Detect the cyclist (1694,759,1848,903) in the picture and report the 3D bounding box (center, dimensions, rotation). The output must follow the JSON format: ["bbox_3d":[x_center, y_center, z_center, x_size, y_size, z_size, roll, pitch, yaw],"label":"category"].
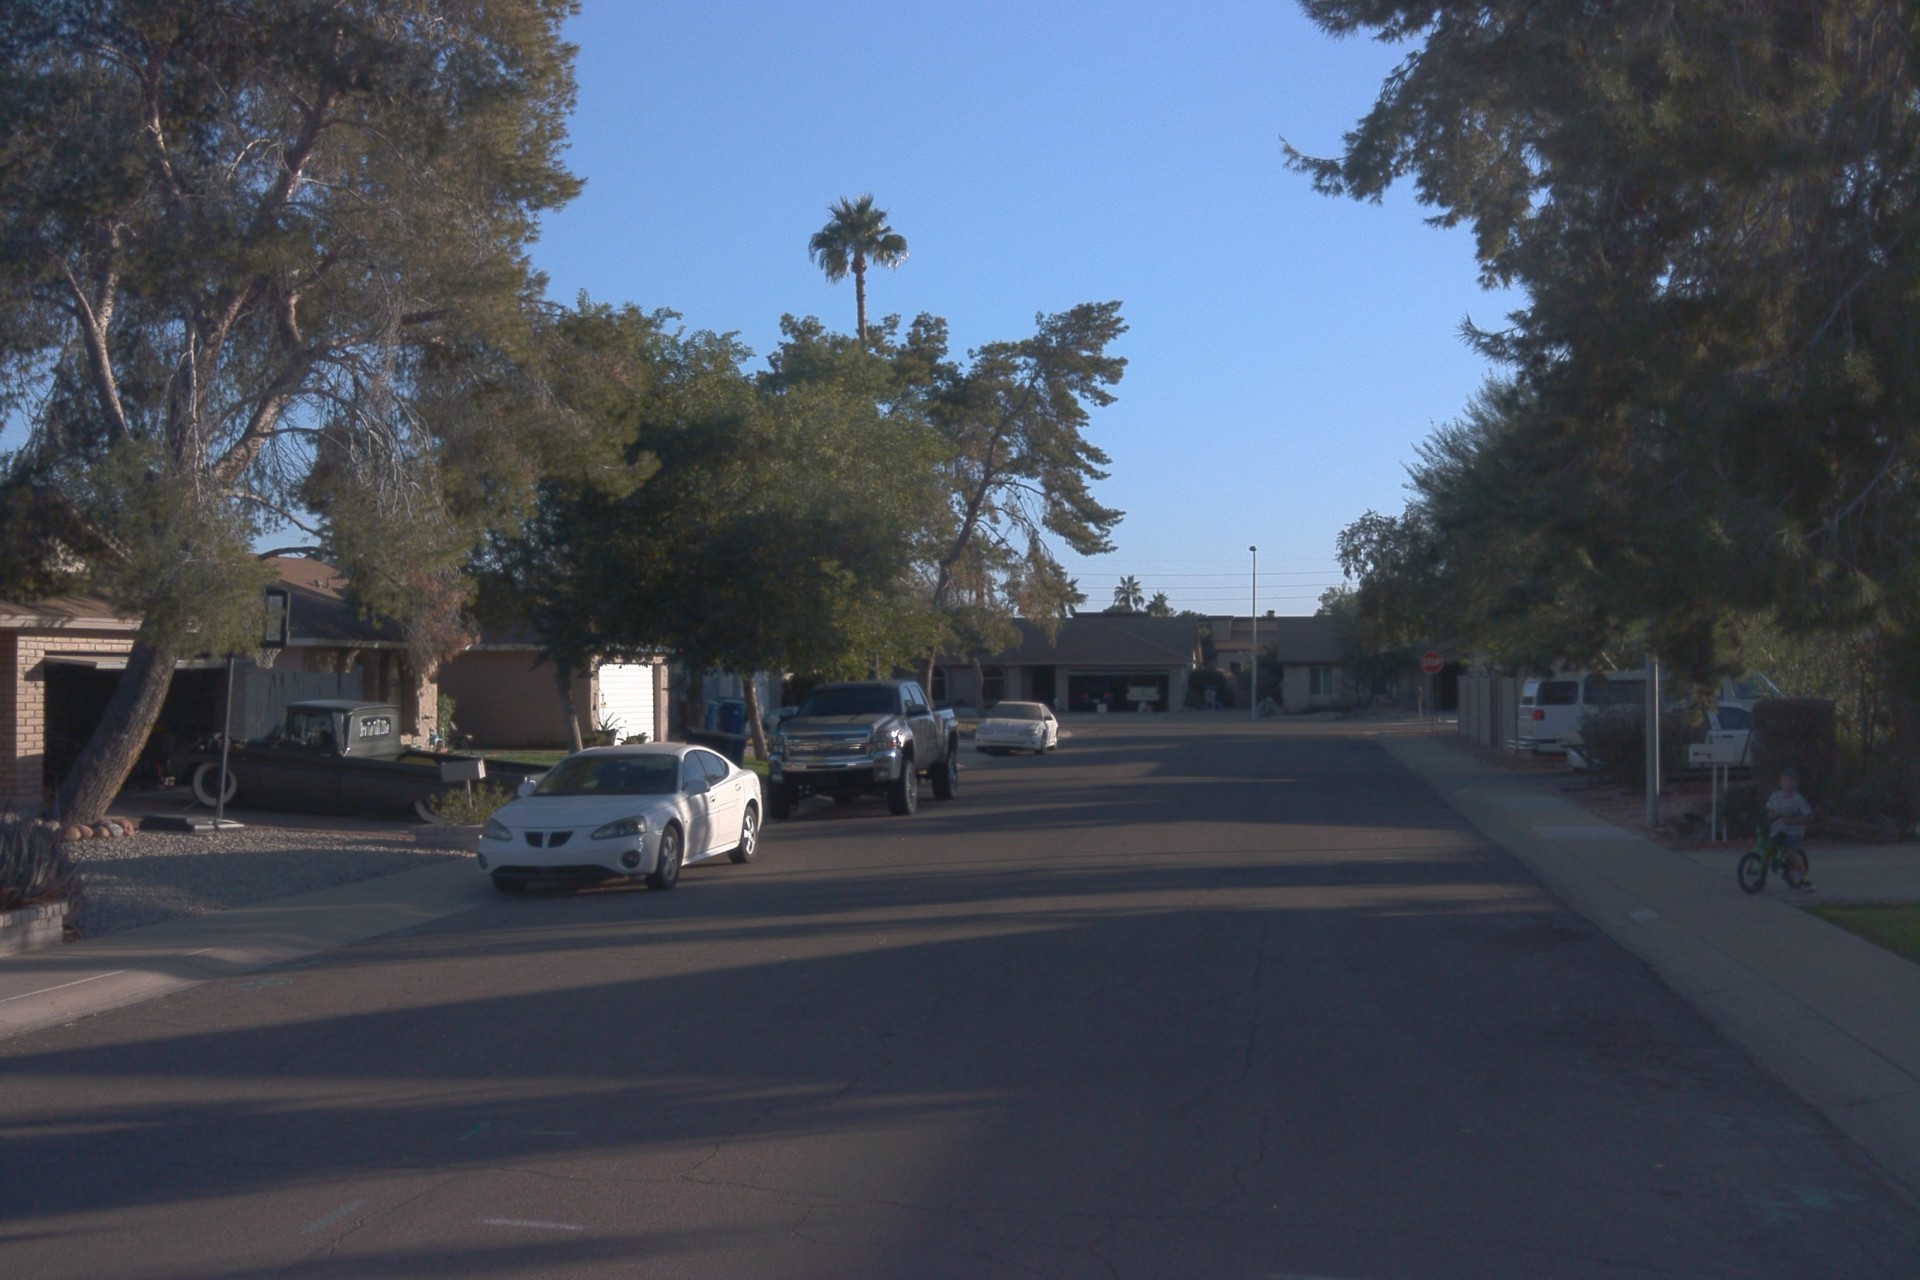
[{"bbox_3d":[7.719,1.795,19.712,1.279,1.280,0.765,1,-1,-34],"label":"cyclist"}]

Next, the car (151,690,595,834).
[{"bbox_3d":[-8.093,1.641,28.823,5.461,1.810,2.328,1,-1,10],"label":"car"}]

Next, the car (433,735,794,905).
[{"bbox_3d":[-3.553,1.839,22.441,2.202,1.460,5.064,0,-1,11],"label":"car"}]

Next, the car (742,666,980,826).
[{"bbox_3d":[-1.454,1.621,33.767,2.530,2.330,6.156,1,-1,10],"label":"car"}]
